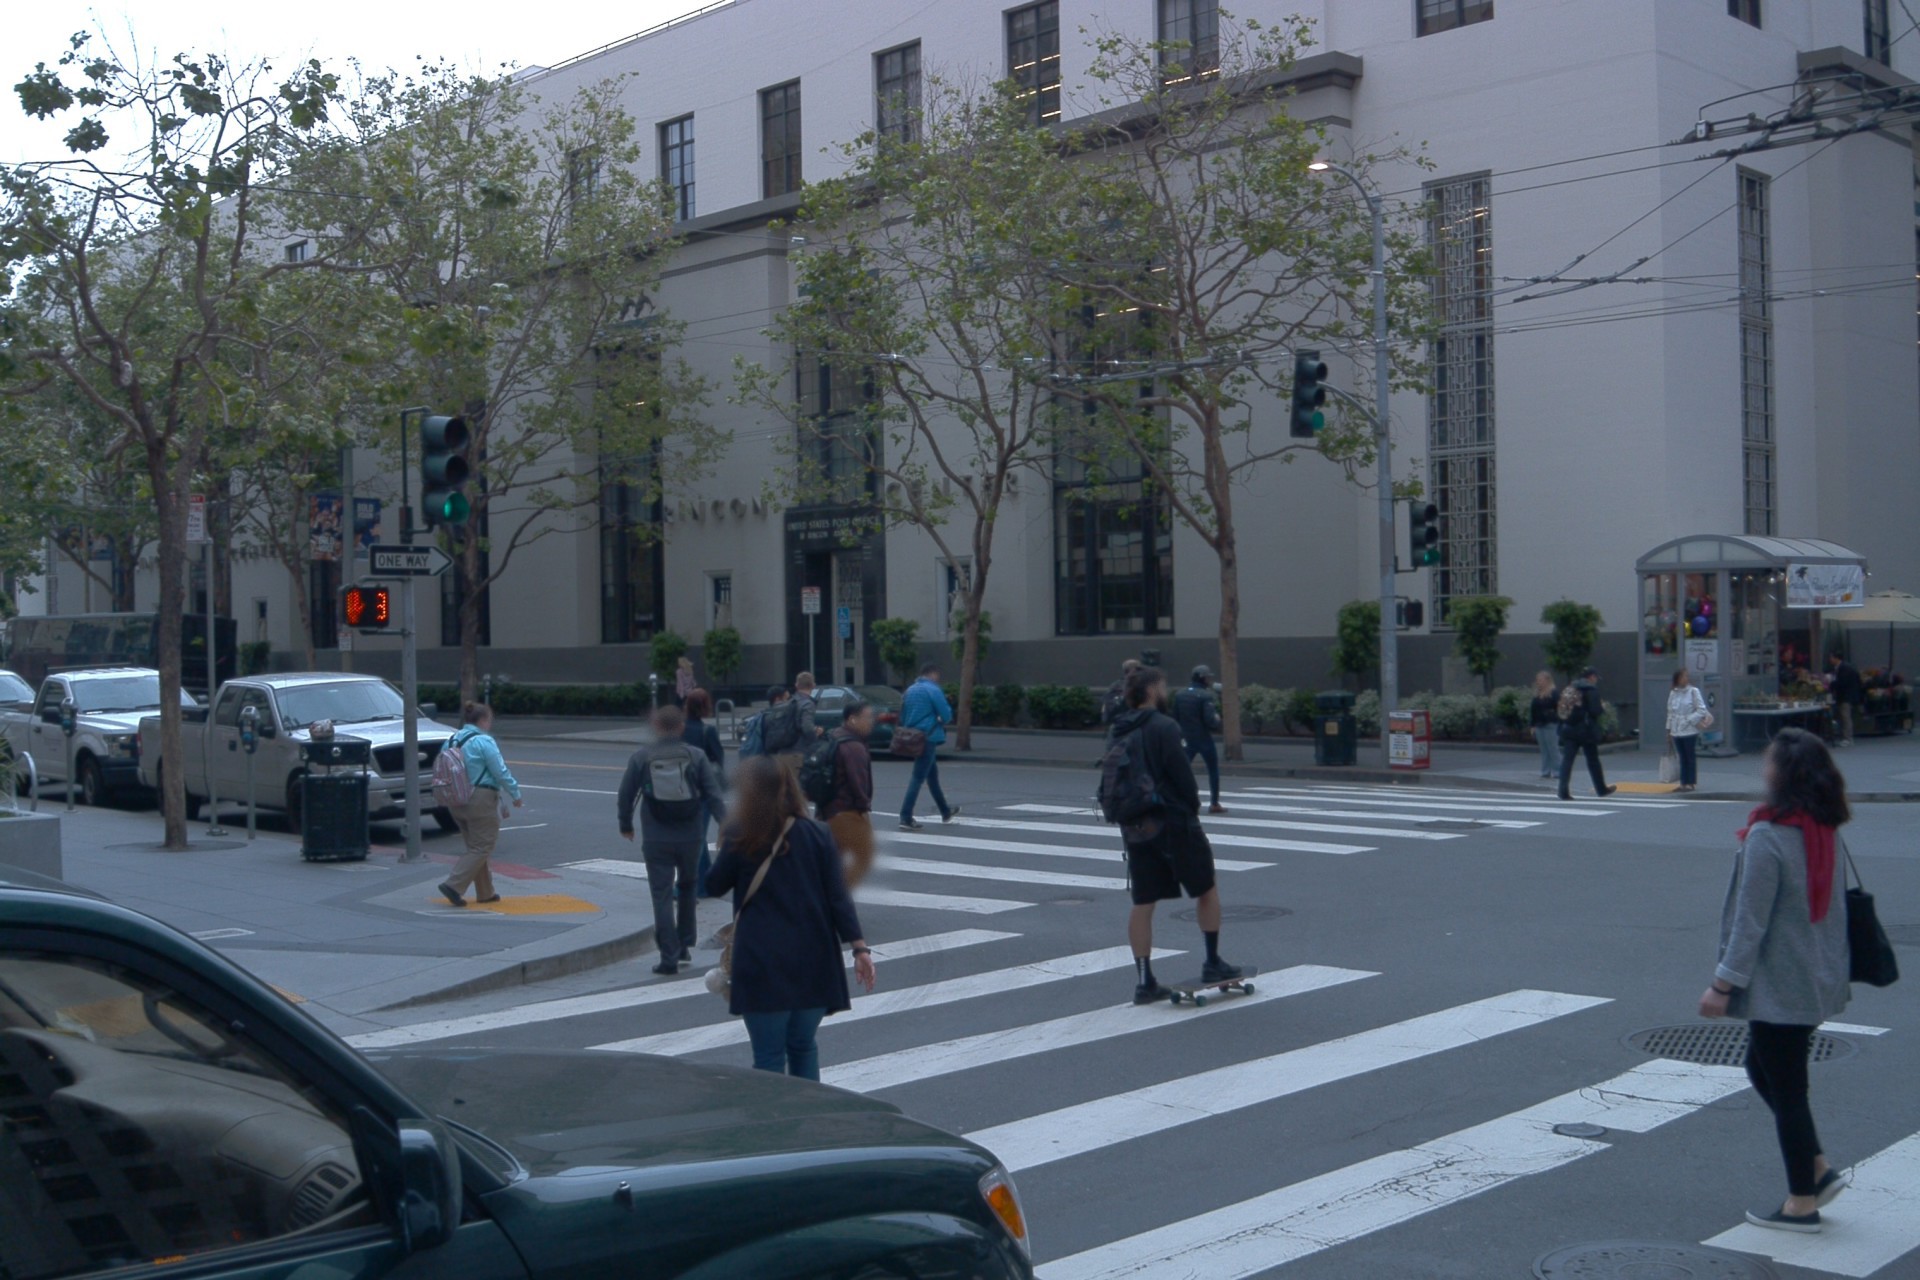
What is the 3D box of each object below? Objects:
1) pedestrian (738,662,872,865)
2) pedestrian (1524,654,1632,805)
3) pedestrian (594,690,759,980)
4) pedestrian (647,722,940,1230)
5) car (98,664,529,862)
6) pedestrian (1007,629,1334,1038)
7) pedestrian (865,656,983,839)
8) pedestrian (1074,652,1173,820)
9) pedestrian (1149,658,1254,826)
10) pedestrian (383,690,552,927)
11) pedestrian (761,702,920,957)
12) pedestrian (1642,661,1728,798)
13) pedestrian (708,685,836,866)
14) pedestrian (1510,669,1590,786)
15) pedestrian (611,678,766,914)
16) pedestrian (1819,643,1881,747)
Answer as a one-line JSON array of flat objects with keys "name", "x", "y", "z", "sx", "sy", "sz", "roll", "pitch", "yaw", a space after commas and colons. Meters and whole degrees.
[{"name": "pedestrian", "x": -1.516, "y": 1.181, "z": 20.203, "sx": 1.051, "sy": 1.896, "sz": 0.762, "roll": -1, "pitch": 1, "yaw": -38}, {"name": "pedestrian", "x": 7.487, "y": 1.063, "z": 25.024, "sx": 0.963, "sy": 1.766, "sz": 0.842, "roll": -1, "pitch": 1, "yaw": -36}, {"name": "pedestrian", "x": -1.906, "y": 1.262, "z": 13.804, "sx": 0.853, "sy": 1.809, "sz": 0.938, "roll": 0, "pitch": 1, "yaw": -24}, {"name": "pedestrian", "x": -0.654, "y": 1.216, "z": 7.891, "sx": 0.886, "sy": 1.741, "sz": 0.888, "roll": 0, "pitch": 1, "yaw": -22}, {"name": "car", "x": -7.874, "y": 1.328, "z": 24.698, "sx": 2.501, "sy": 1.940, "sz": 6.007, "roll": -1, "pitch": 1, "yaw": -44}, {"name": "pedestrian", "x": 1.203, "y": 1.002, "z": 11.659, "sx": 1.544, "sy": 2.118, "sz": 1.097, "roll": -1, "pitch": 1, "yaw": -44}, {"name": "pedestrian", "x": -0.387, "y": 1.136, "z": 22.270, "sx": 0.984, "sy": 1.896, "sz": 0.798, "roll": -1, "pitch": 1, "yaw": -43}, {"name": "pedestrian", "x": 1.868, "y": 1.073, "z": 23.567, "sx": 0.678, "sy": 1.856, "sz": 0.980, "roll": 1, "pitch": 1, "yaw": 40}, {"name": "pedestrian", "x": 2.705, "y": 1.118, "z": 23.068, "sx": 0.753, "sy": 1.796, "sz": 0.988, "roll": 0, "pitch": 1, "yaw": 38}, {"name": "pedestrian", "x": -3.917, "y": 1.304, "z": 16.446, "sx": 0.829, "sy": 1.767, "sz": 1.013, "roll": 0, "pitch": 1, "yaw": 29}, {"name": "pedestrian", "x": -0.882, "y": 1.376, "z": 15.362, "sx": 0.716, "sy": 1.771, "sz": 0.964, "roll": 0, "pitch": 1, "yaw": 37}, {"name": "pedestrian", "x": 9.939, "y": 1.207, "z": 28.278, "sx": 0.807, "sy": 1.800, "sz": 0.940, "roll": 1, "pitch": 1, "yaw": 42}, {"name": "pedestrian", "x": -1.874, "y": 1.320, "z": 20.541, "sx": 0.974, "sy": 1.706, "sz": 0.840, "roll": -1, "pitch": 1, "yaw": -36}, {"name": "pedestrian", "x": 8.651, "y": 1.266, "z": 30.264, "sx": 0.893, "sy": 1.646, "sz": 0.735, "roll": -1, "pitch": 1, "yaw": -37}, {"name": "pedestrian", "x": -2.262, "y": 1.267, "z": 17.247, "sx": 0.828, "sy": 1.856, "sz": 0.973, "roll": 0, "pitch": 1, "yaw": 37}, {"name": "pedestrian", "x": 15.308, "y": 0.937, "z": 35.483, "sx": 0.751, "sy": 1.746, "sz": 0.848, "roll": 1, "pitch": 1, "yaw": 41}]
